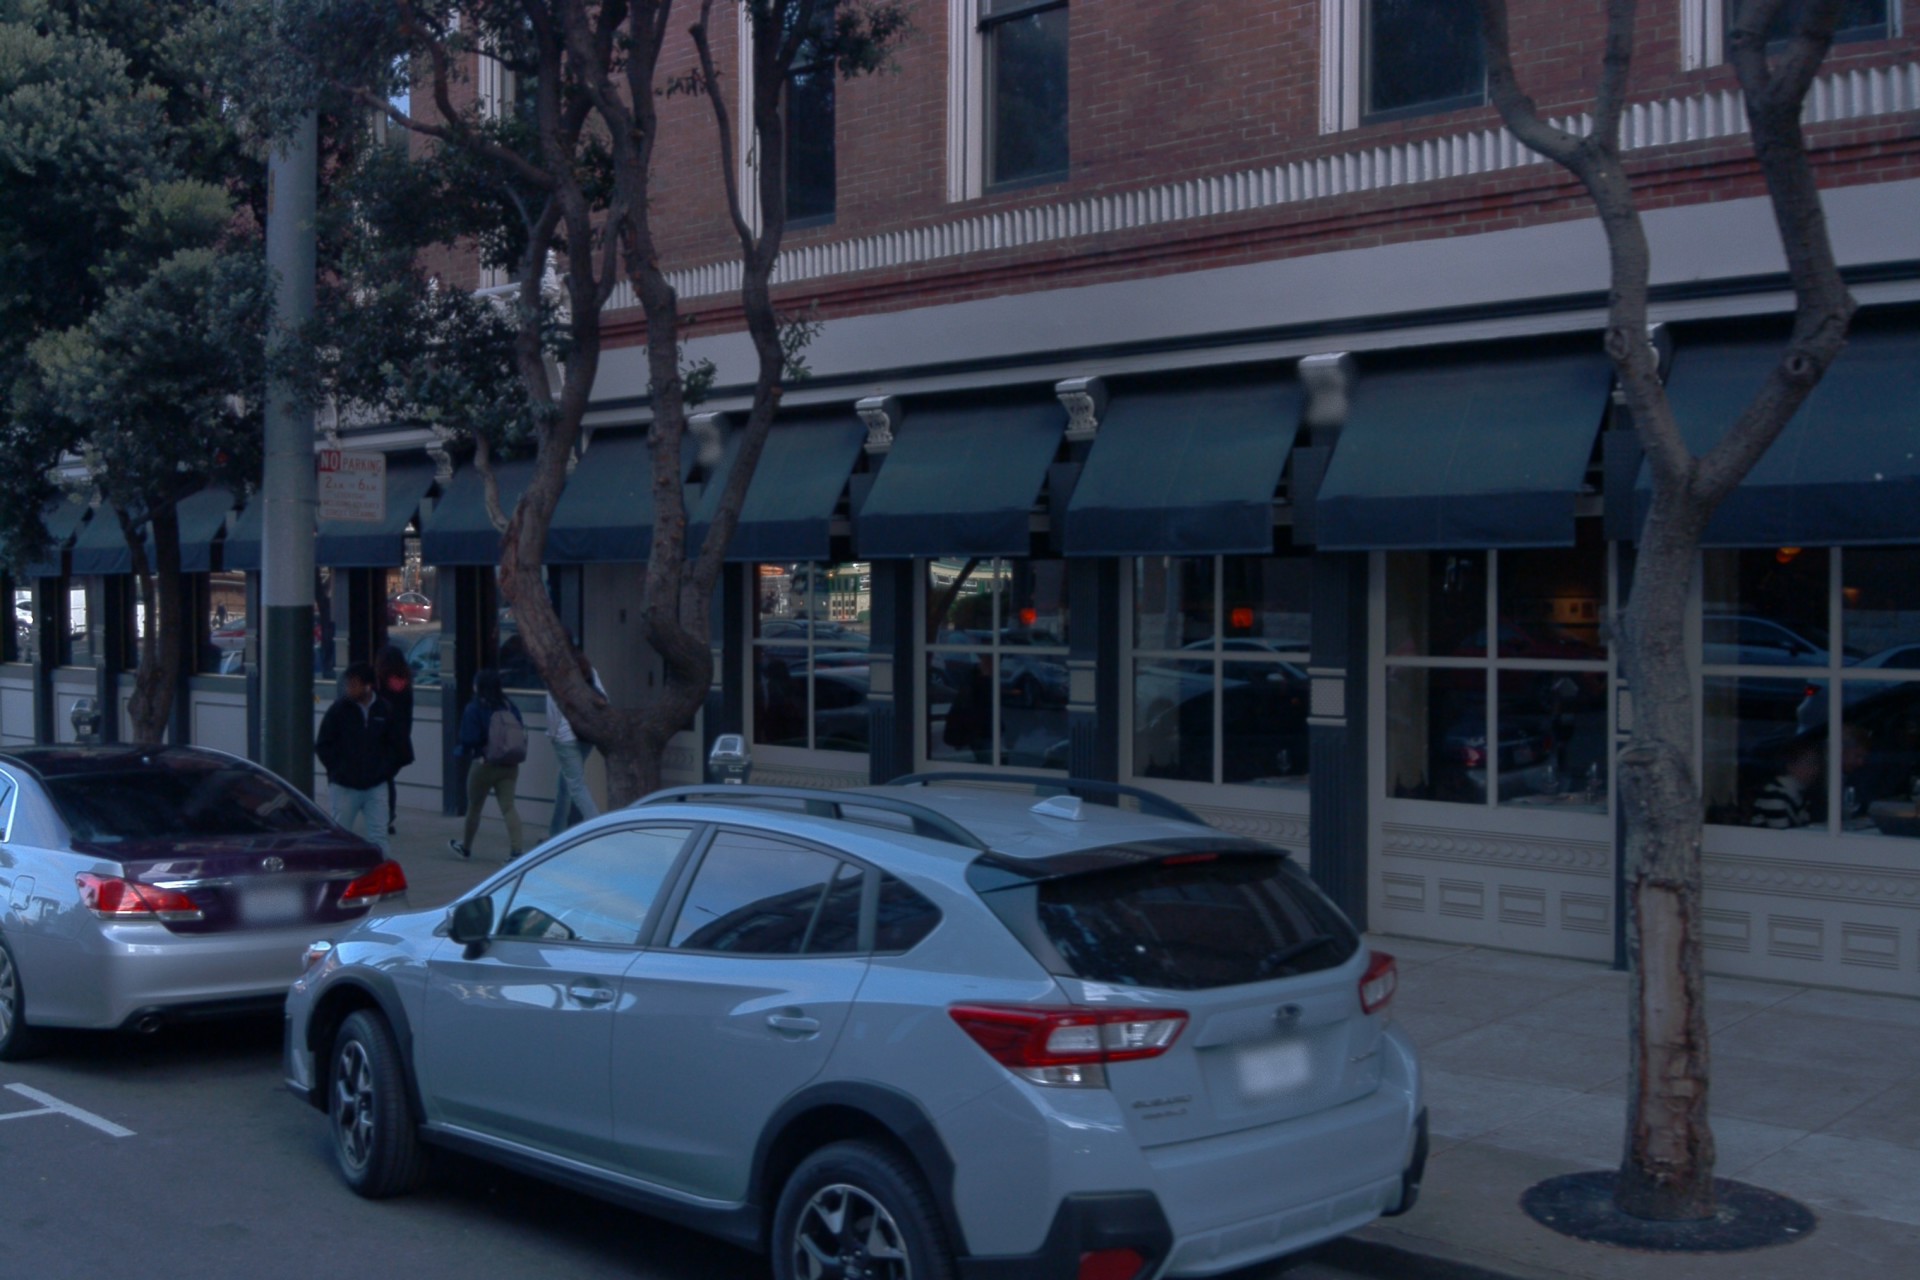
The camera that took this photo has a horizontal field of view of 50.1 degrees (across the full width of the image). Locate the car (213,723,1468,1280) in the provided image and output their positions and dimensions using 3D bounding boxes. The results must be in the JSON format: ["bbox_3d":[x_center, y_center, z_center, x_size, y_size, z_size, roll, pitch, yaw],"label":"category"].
[{"bbox_3d":[-0.692,1.220,7.168,1.959,1.640,4.408,-1,1,-44],"label":"car"}]

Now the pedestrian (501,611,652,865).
[{"bbox_3d":[-3.013,0.734,16.136,0.917,1.920,0.771,0,0,44],"label":"pedestrian"}]

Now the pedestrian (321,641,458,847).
[{"bbox_3d":[-4.866,0.857,17.530,0.934,1.690,0.759,0,0,44],"label":"pedestrian"}]

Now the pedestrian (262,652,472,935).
[{"bbox_3d":[-4.050,0.997,14.037,0.993,1.810,1.083,0,0,-42],"label":"pedestrian"}]

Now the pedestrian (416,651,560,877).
[{"bbox_3d":[-3.609,0.917,15.708,0.895,1.650,0.692,0,0,44],"label":"pedestrian"}]
